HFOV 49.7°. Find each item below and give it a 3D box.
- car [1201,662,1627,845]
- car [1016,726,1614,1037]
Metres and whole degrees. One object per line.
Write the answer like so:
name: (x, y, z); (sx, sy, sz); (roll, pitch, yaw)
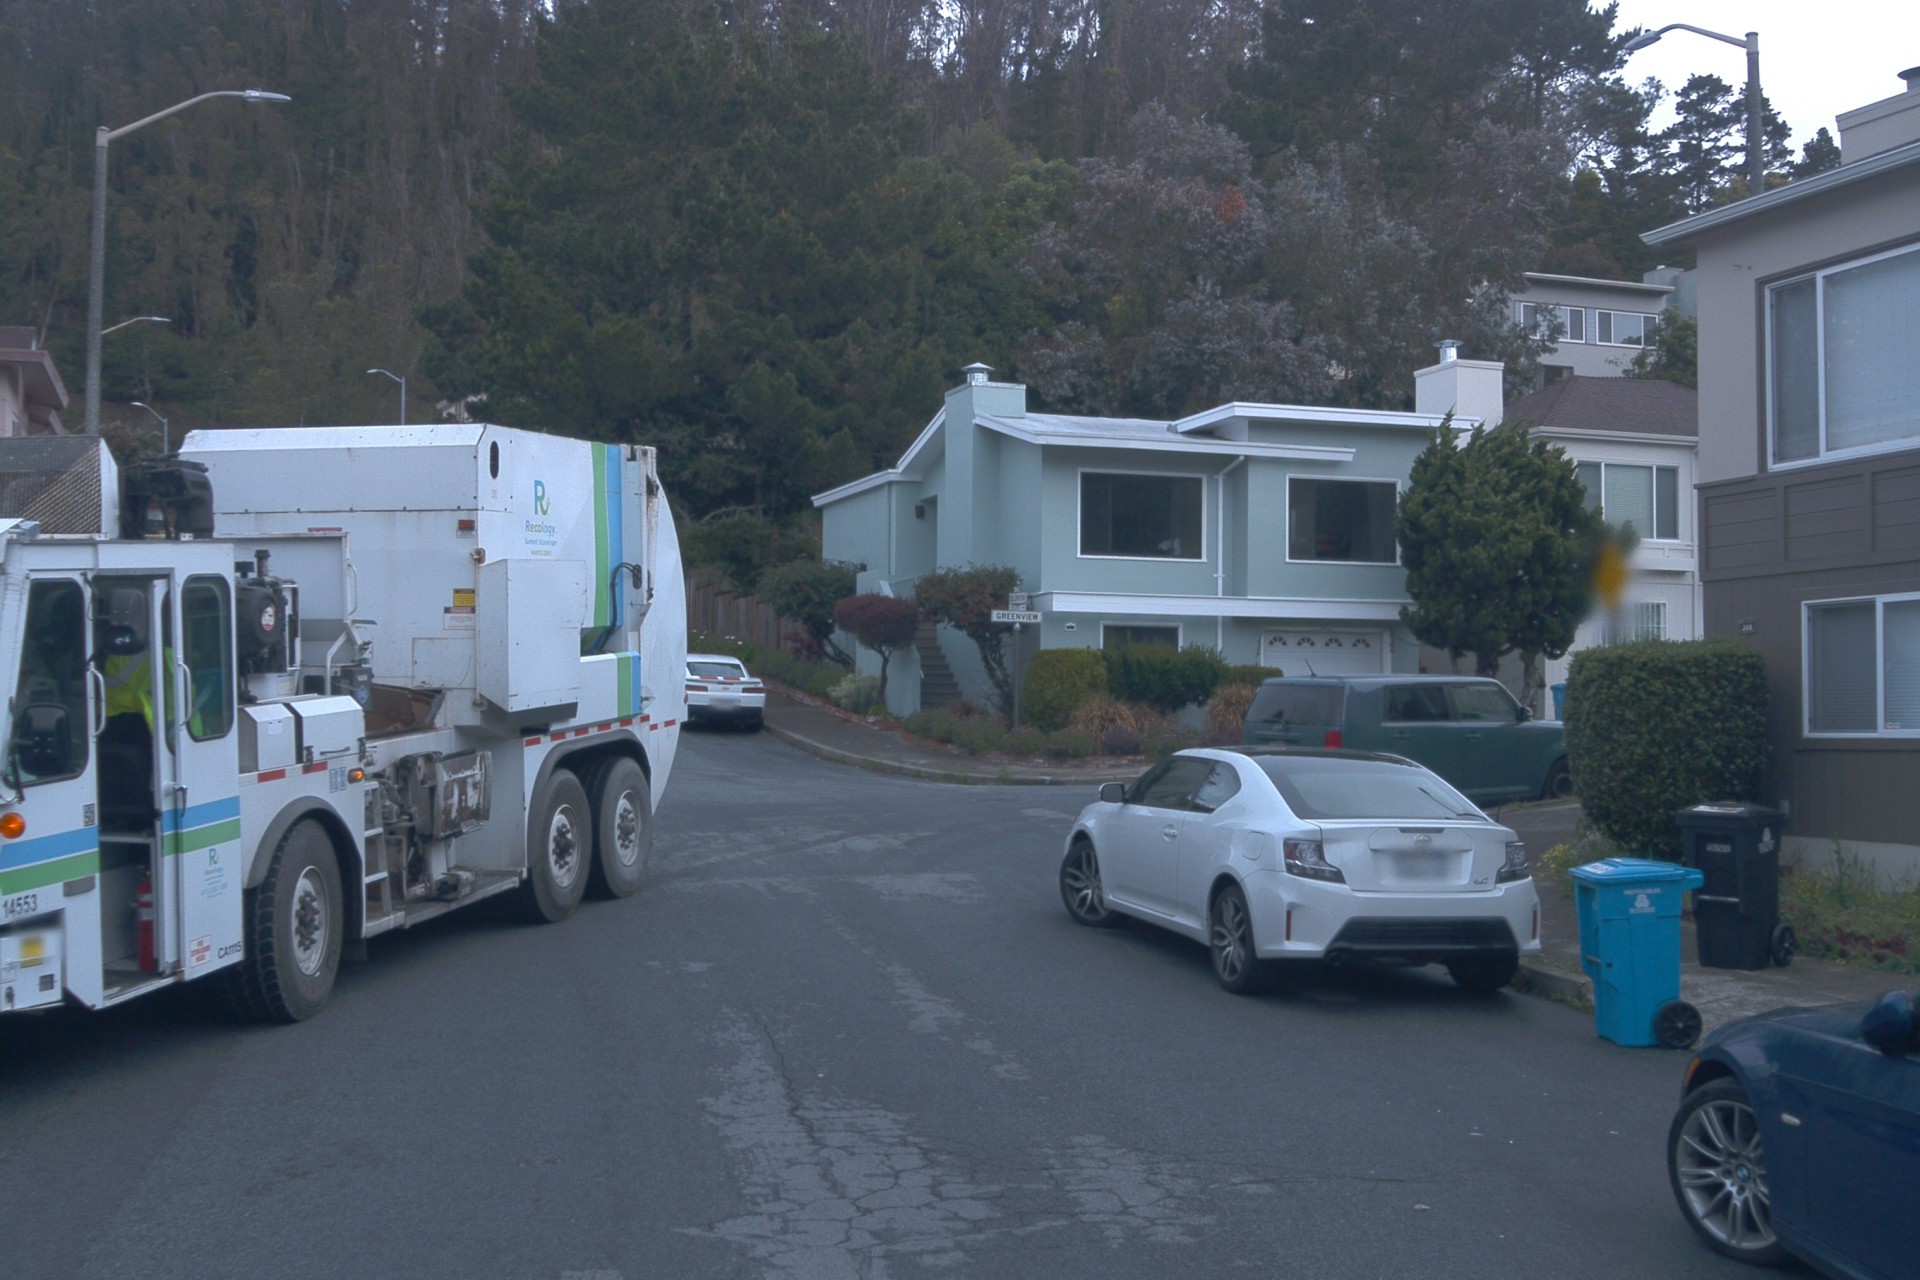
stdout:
car: (4.905, 1.130, 22.265); (4.270, 1.770, 2.030); (0, 0, -32)
car: (2.118, 1.437, 13.933); (2.202, 1.540, 4.543); (0, 0, -16)
